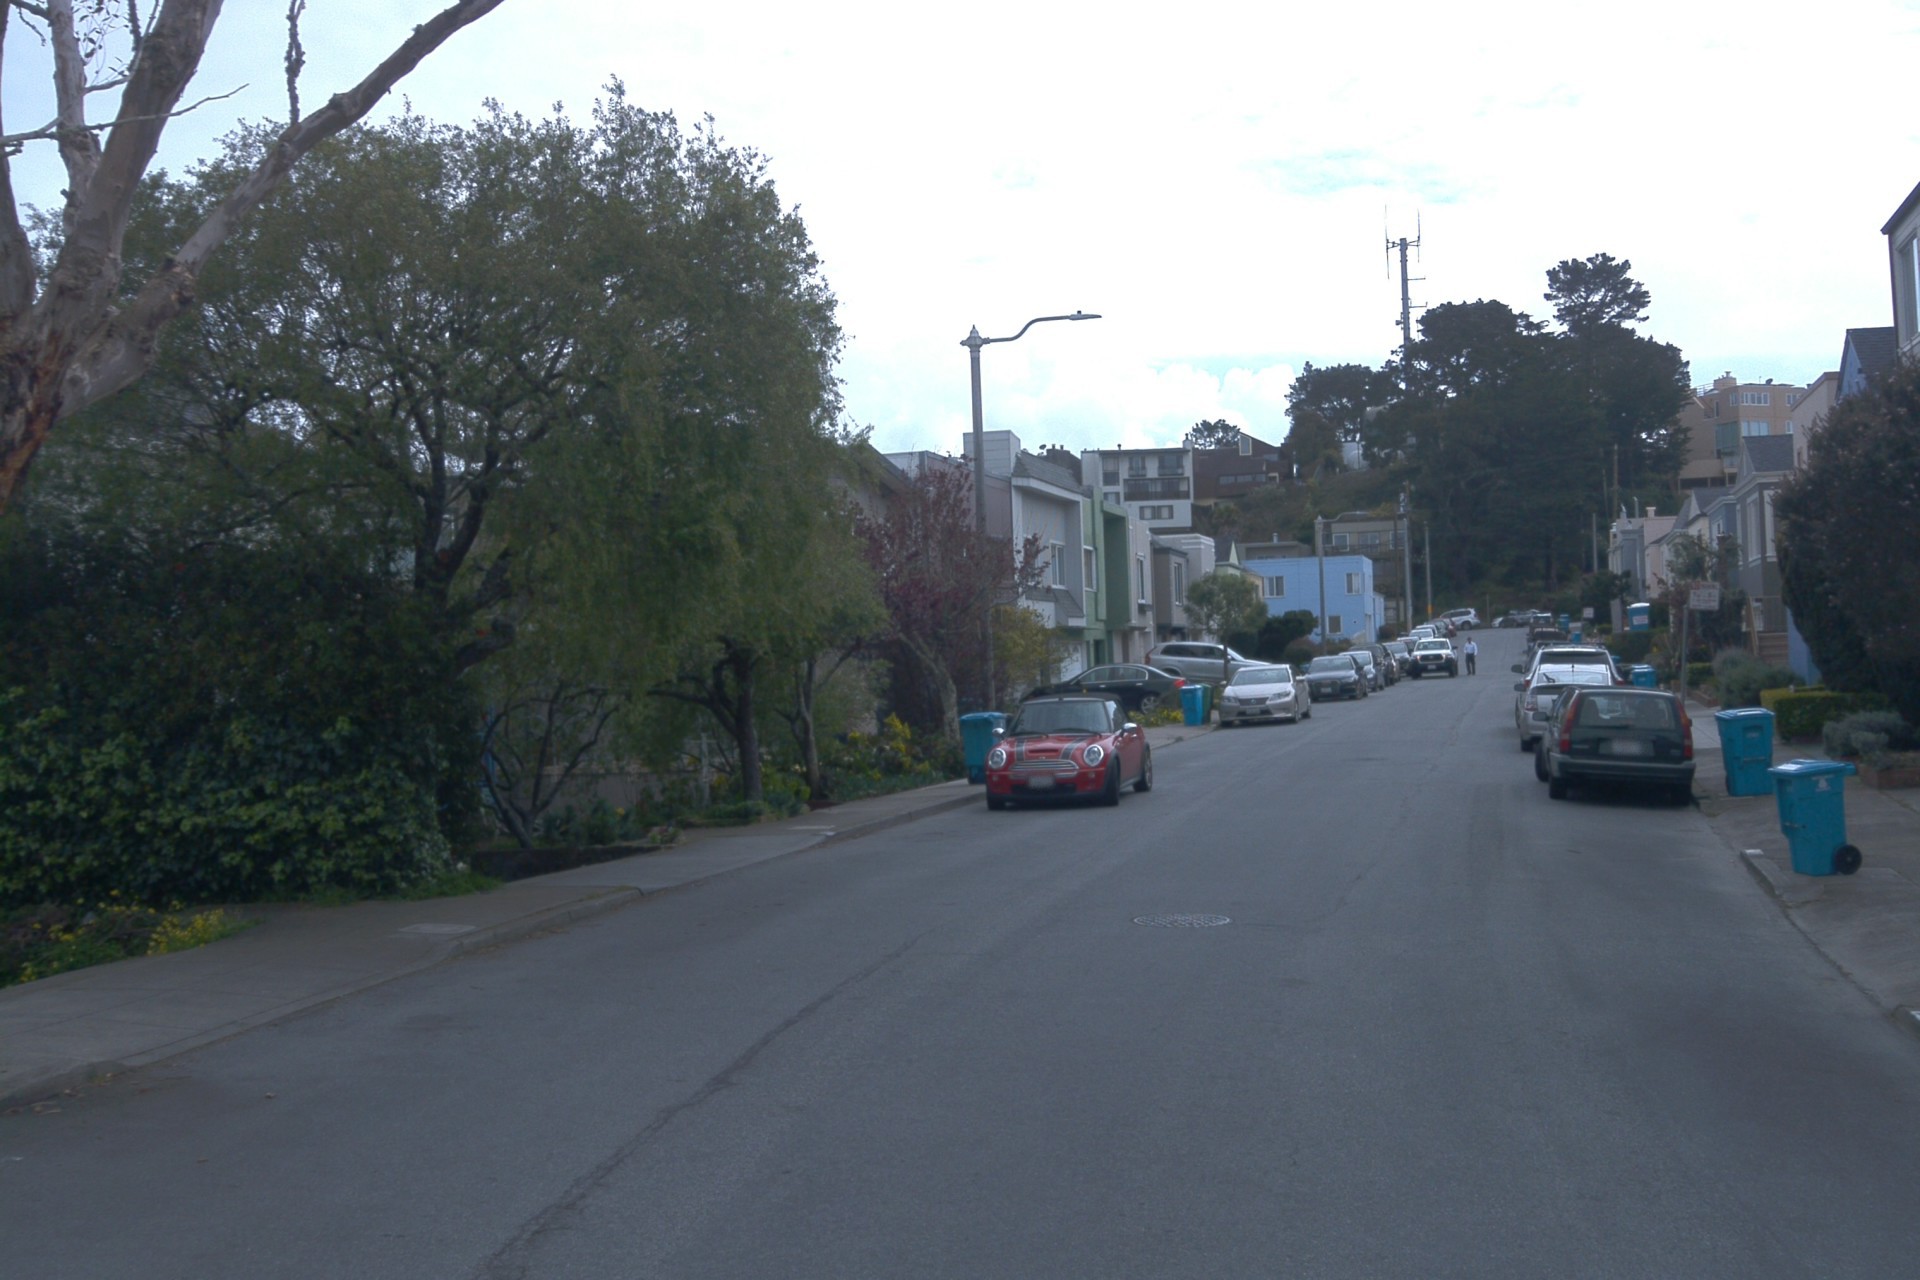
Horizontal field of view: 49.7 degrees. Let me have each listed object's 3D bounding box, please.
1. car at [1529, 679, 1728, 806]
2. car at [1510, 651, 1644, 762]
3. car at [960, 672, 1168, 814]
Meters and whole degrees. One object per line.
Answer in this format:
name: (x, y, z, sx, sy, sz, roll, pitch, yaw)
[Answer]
car: (8.534, 1.249, 26.827, 2.071, 1.420, 4.831, 0, 0, 13)
car: (10.676, 1.085, 35.856, 2.089, 1.790, 4.602, 0, 0, 17)
car: (1.437, 1.273, 27.041, 1.995, 1.670, 3.837, 0, 0, 14)
